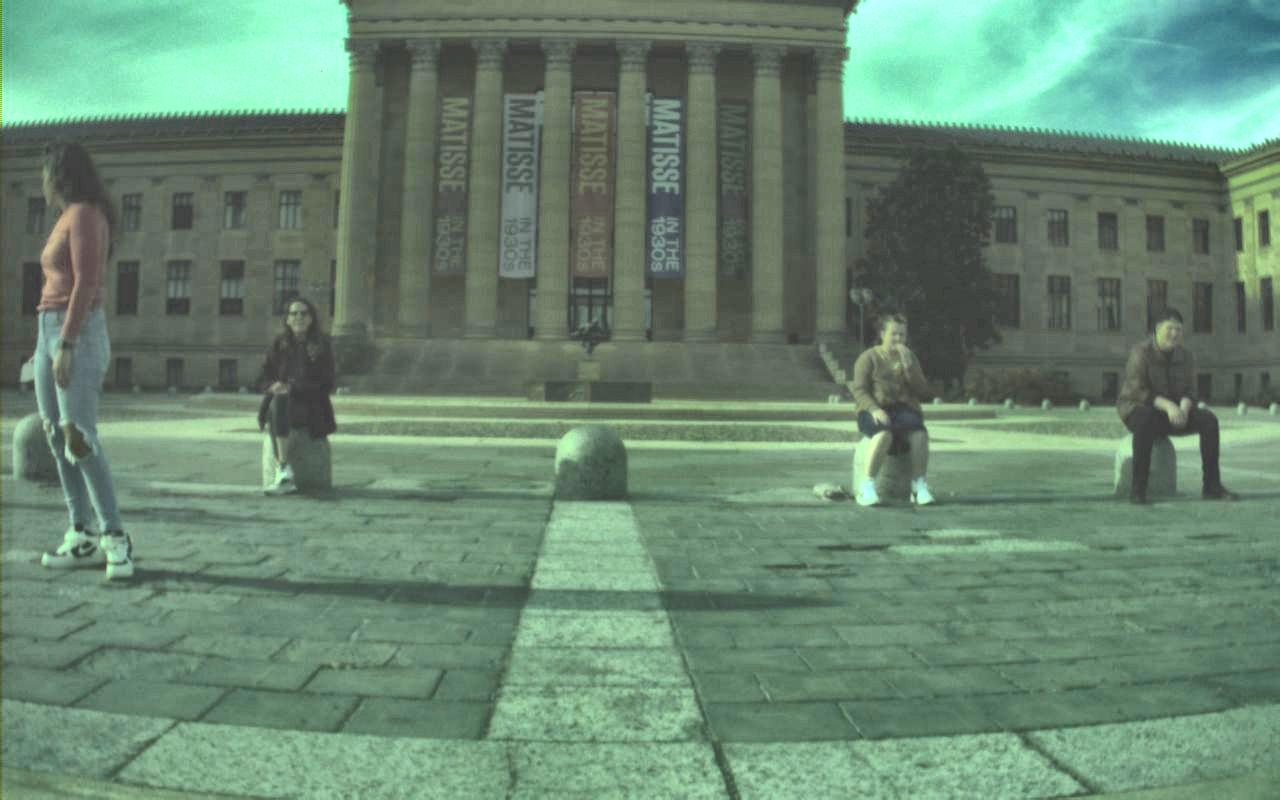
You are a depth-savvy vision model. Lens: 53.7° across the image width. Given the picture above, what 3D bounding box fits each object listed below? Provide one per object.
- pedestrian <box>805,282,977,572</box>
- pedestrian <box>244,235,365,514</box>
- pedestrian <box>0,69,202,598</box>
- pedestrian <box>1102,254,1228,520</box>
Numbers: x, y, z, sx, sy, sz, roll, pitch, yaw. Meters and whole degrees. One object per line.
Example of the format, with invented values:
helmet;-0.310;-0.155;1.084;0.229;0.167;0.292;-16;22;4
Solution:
pedestrian;1.592;0.160;7.939;0.819;1.741;0.831;0;0;-13
pedestrian;-2.134;-0.154;7.741;0.751;1.684;0.763;0;0;-15
pedestrian;-2.064;-0.224;4.170;0.778;1.778;0.791;0;0;-31
pedestrian;3.502;-0.070;7.824;0.719;1.691;0.756;0;0;10
